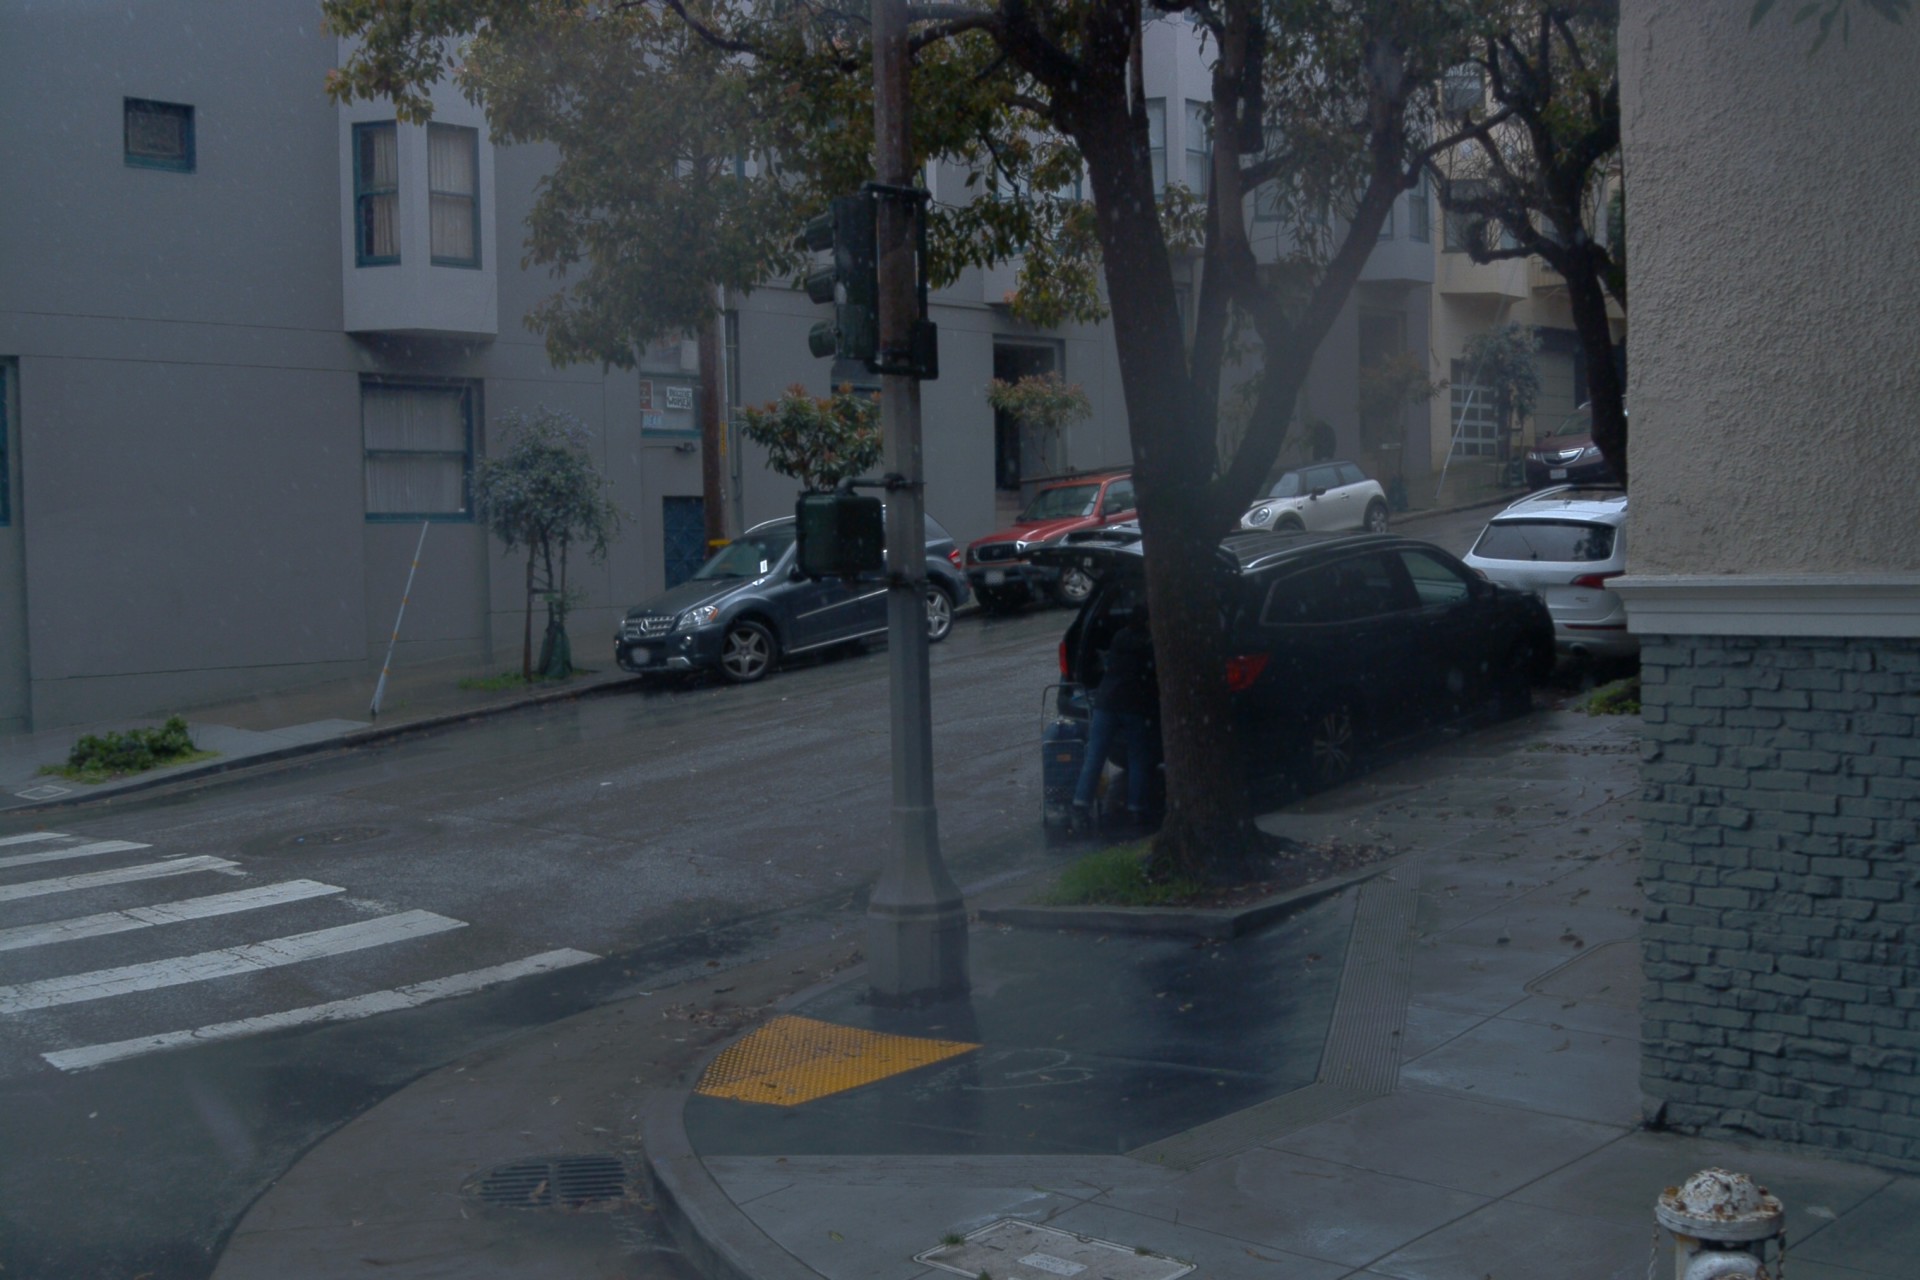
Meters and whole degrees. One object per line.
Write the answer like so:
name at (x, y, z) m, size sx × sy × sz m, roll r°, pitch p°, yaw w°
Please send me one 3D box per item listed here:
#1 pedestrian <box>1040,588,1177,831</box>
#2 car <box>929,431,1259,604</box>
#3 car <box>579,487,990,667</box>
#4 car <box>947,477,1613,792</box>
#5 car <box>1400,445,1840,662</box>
pedestrian at (1.044, 0.466, 14.253) m, size 0.793 × 1.634 × 0.885 m, roll 0°, pitch 0°, yaw 15°
car at (1.985, -1.650, 29.236) m, size 4.537 × 2.180 × 2.259 m, roll 0°, pitch 0°, yaw -45°
car at (-2.050, -0.690, 24.963) m, size 2.225 × 1.980 × 4.671 m, roll 0°, pitch 0°, yaw 45°
car at (2.722, -0.028, 16.096) m, size 2.384 × 2.040 × 5.680 m, roll 0°, pitch 0°, yaw 43°
car at (6.523, -0.727, 19.878) m, size 2.355 × 1.840 × 4.675 m, roll 0°, pitch 0°, yaw 42°
